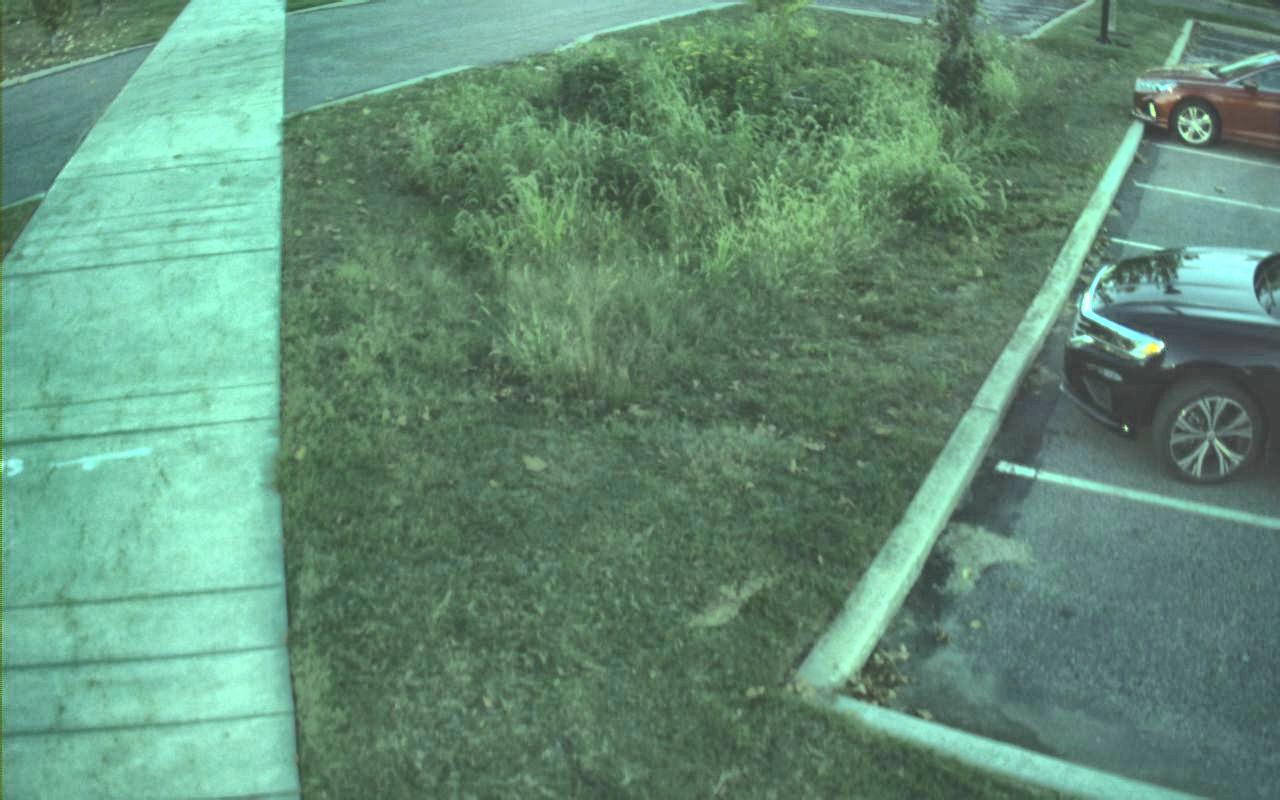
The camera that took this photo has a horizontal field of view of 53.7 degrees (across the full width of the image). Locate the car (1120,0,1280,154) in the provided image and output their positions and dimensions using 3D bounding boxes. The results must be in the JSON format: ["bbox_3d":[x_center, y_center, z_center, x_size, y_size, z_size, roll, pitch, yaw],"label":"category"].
[{"bbox_3d":[8.803,-4.399,14.837,4.676,1.639,2.009,8,18,28],"label":"car"}]

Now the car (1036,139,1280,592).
[{"bbox_3d":[4.558,-0.434,6.191,4.508,1.601,1.988,7,17,25],"label":"car"}]
